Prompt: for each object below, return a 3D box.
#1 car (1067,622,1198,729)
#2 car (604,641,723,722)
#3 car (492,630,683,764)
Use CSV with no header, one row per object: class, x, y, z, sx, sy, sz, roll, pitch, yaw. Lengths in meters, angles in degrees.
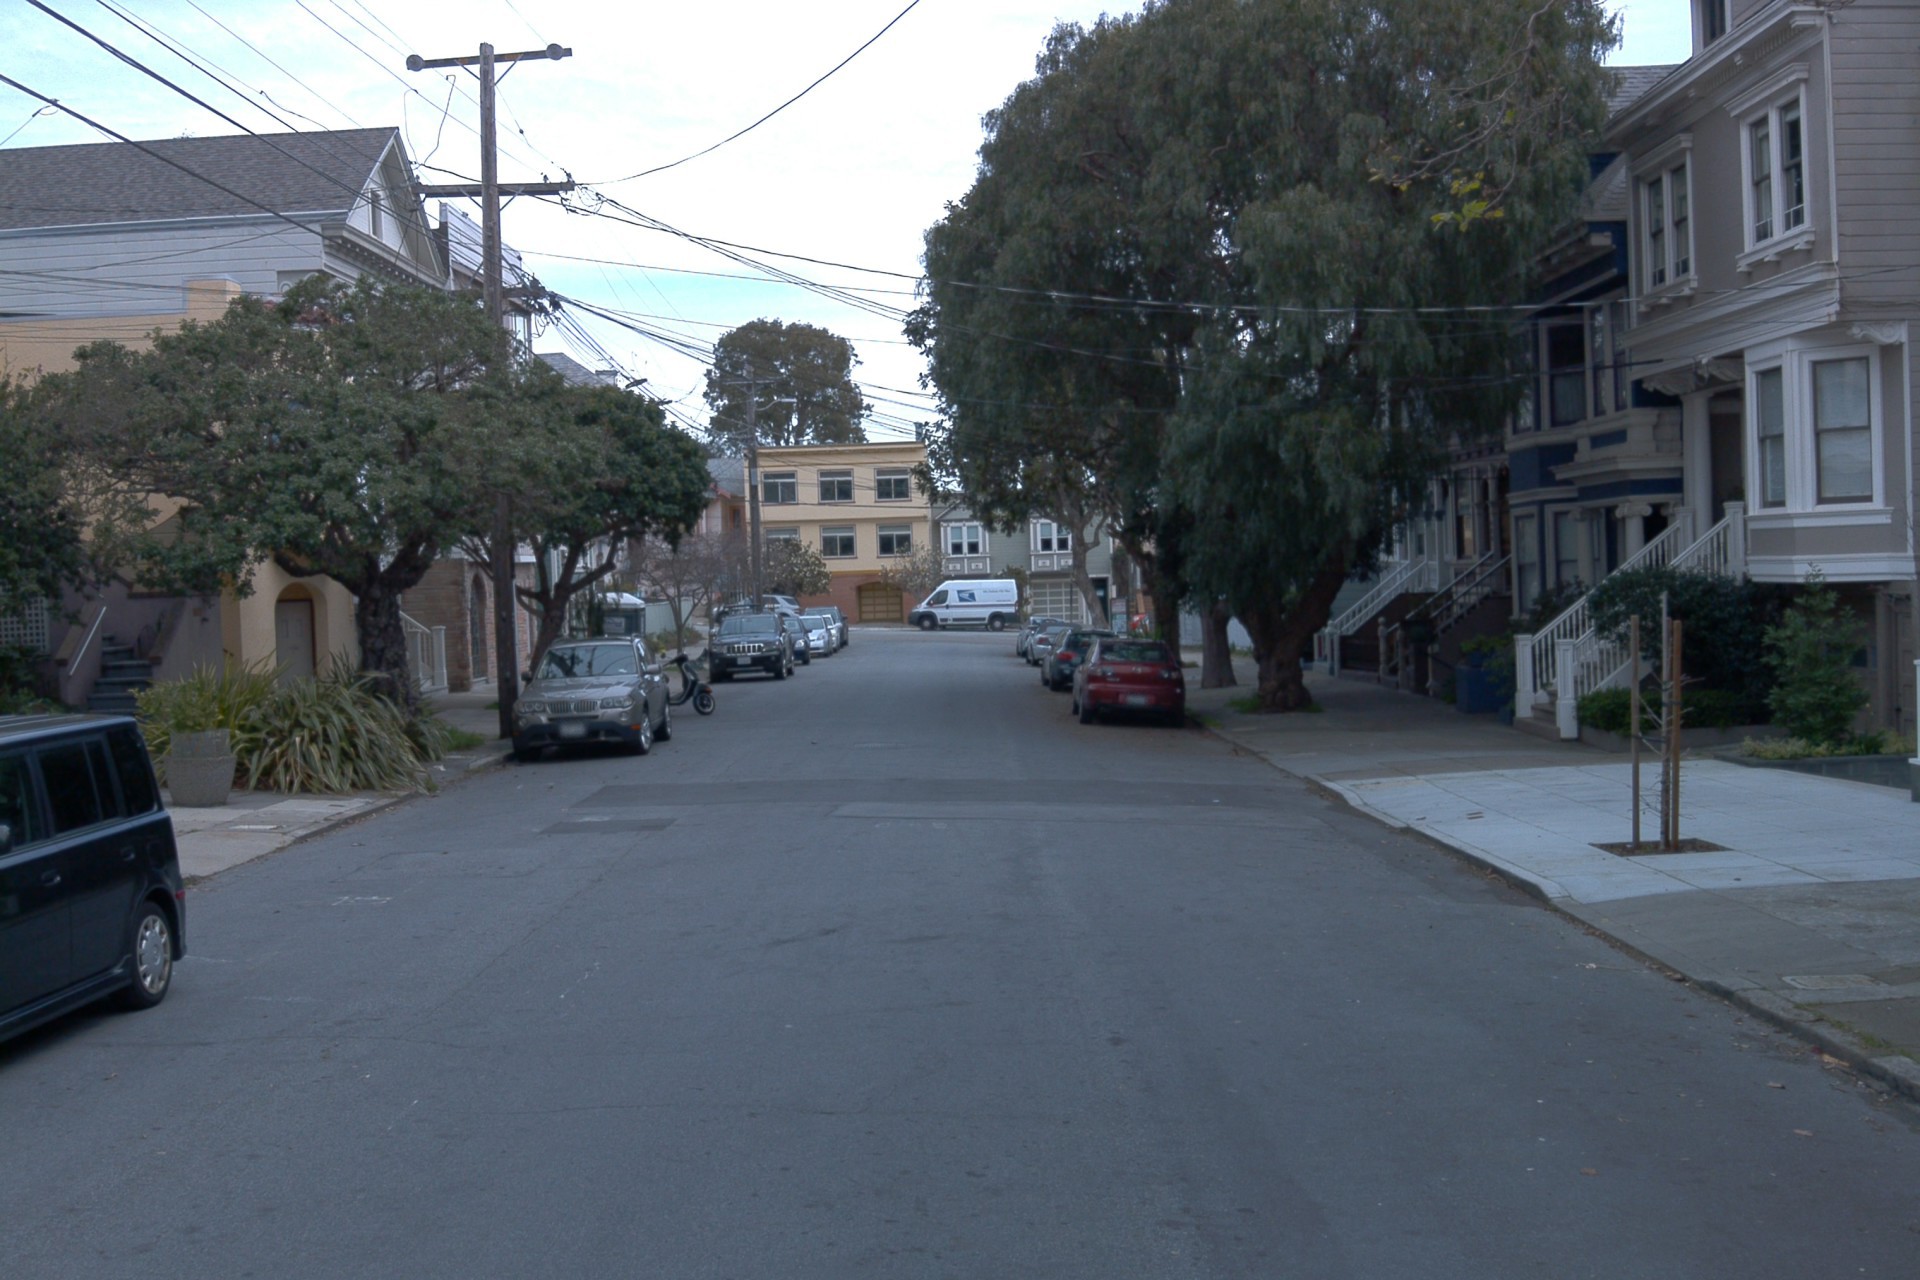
car,2.921,0.557,35.930,1.960,1.710,4.635,1,1,1
car,-5.386,0.744,37.643,2.043,1.431,0.920,1,1,-2
car,-5.249,0.745,29.729,2.068,1.725,4.587,0,1,-2
